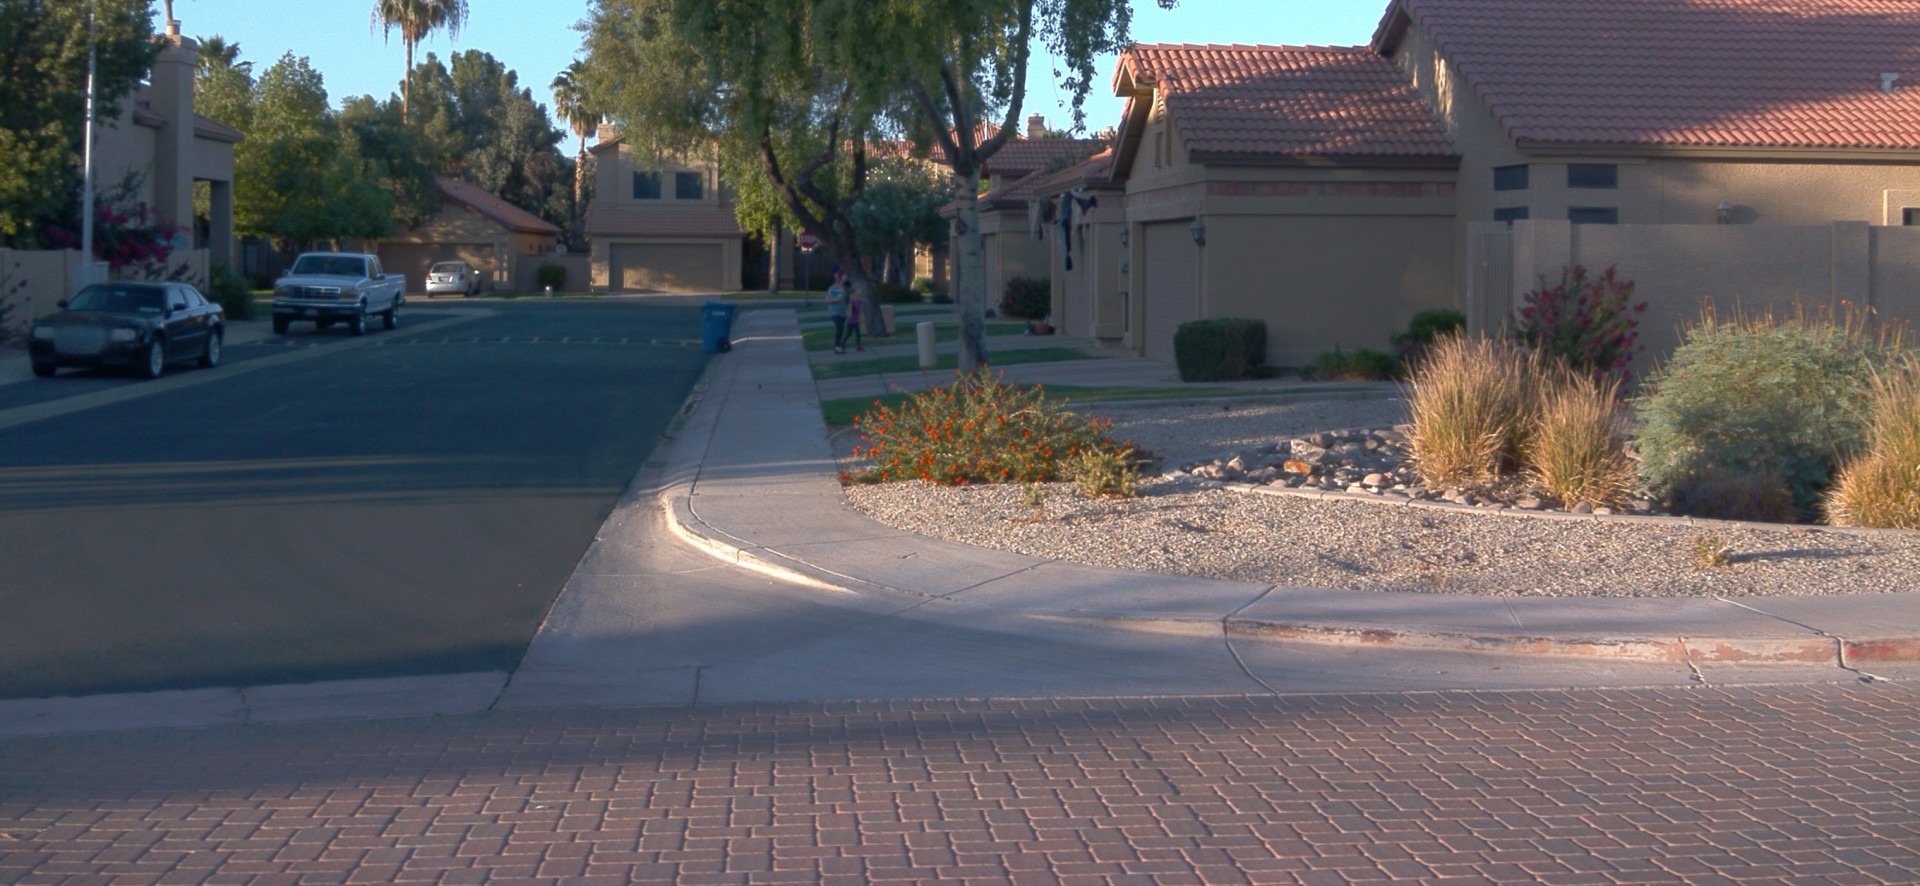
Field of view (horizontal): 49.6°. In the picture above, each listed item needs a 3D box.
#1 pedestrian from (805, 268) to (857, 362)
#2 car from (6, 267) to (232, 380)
[{"bbox_3d":[-2.399,-2.388,38.555,0.687,1.687,0.686,2,3,43],"label":"pedestrian"},{"bbox_3d":[-13.378,-1.987,33.356,1.945,1.552,4.889,0,6,-4],"label":"car"}]
